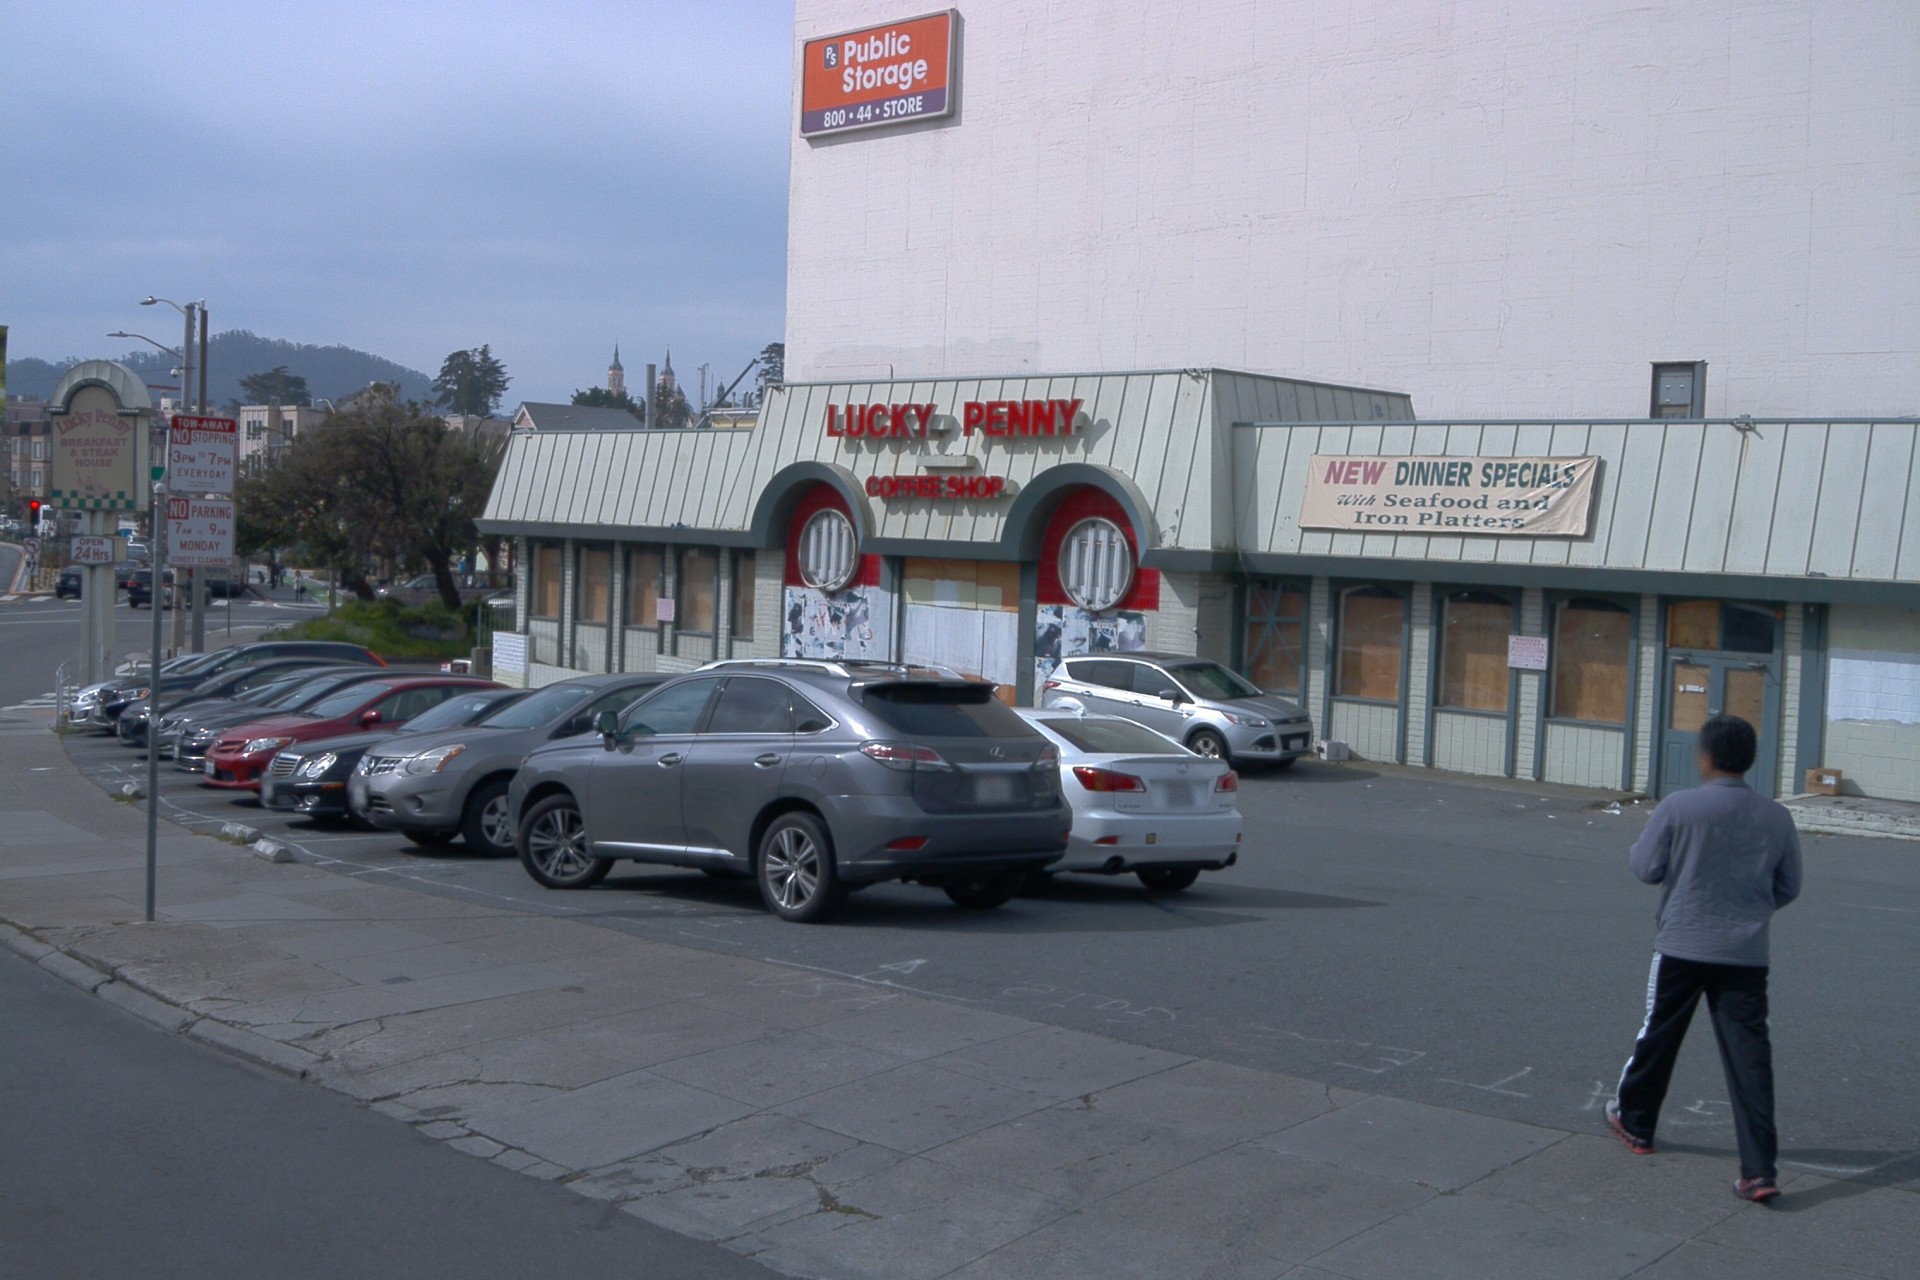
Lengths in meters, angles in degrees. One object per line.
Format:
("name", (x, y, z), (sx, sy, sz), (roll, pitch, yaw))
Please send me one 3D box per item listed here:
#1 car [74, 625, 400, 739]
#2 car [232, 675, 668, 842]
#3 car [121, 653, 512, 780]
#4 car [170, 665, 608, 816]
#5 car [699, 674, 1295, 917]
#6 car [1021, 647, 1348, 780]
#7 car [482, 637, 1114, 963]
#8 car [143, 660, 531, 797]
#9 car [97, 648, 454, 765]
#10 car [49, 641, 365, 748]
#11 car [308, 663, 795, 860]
("car", (-11.712, 0.642, 33.334), (4.561, 1.710, 2.059), (0, 0, -43))
("car", (-5.262, 1.160, 21.427), (4.029, 1.500, 1.869), (0, 0, -45))
("car", (-8.979, 0.999, 28.783), (4.736, 1.590, 2.241), (0, 0, -44))
("car", (-6.654, 1.099, 24.116), (4.484, 1.550, 2.134), (0, 0, -44))
("car", (0.161, 1.124, 16.691), (2.088, 1.580, 4.738), (0, 0, -44))
("car", (3.292, 1.025, 30.718), (2.134, 1.790, 4.557), (0, 0, -44))
("car", (-1.290, 0.961, 14.599), (2.065, 1.920, 4.493), (0, 0, -45))
("car", (-7.970, 1.067, 26.410), (4.343, 1.580, 1.994), (0, 0, -43))
("car", (-10.333, 0.942, 31.105), (4.651, 1.610, 2.192), (0, 0, -43))
("car", (-13.131, 0.901, 35.857), (4.757, 1.740, 2.072), (0, 0, -43))
("car", (-3.712, 1.029, 19.045), (1.975, 1.570, 4.019), (1, 0, 44))
